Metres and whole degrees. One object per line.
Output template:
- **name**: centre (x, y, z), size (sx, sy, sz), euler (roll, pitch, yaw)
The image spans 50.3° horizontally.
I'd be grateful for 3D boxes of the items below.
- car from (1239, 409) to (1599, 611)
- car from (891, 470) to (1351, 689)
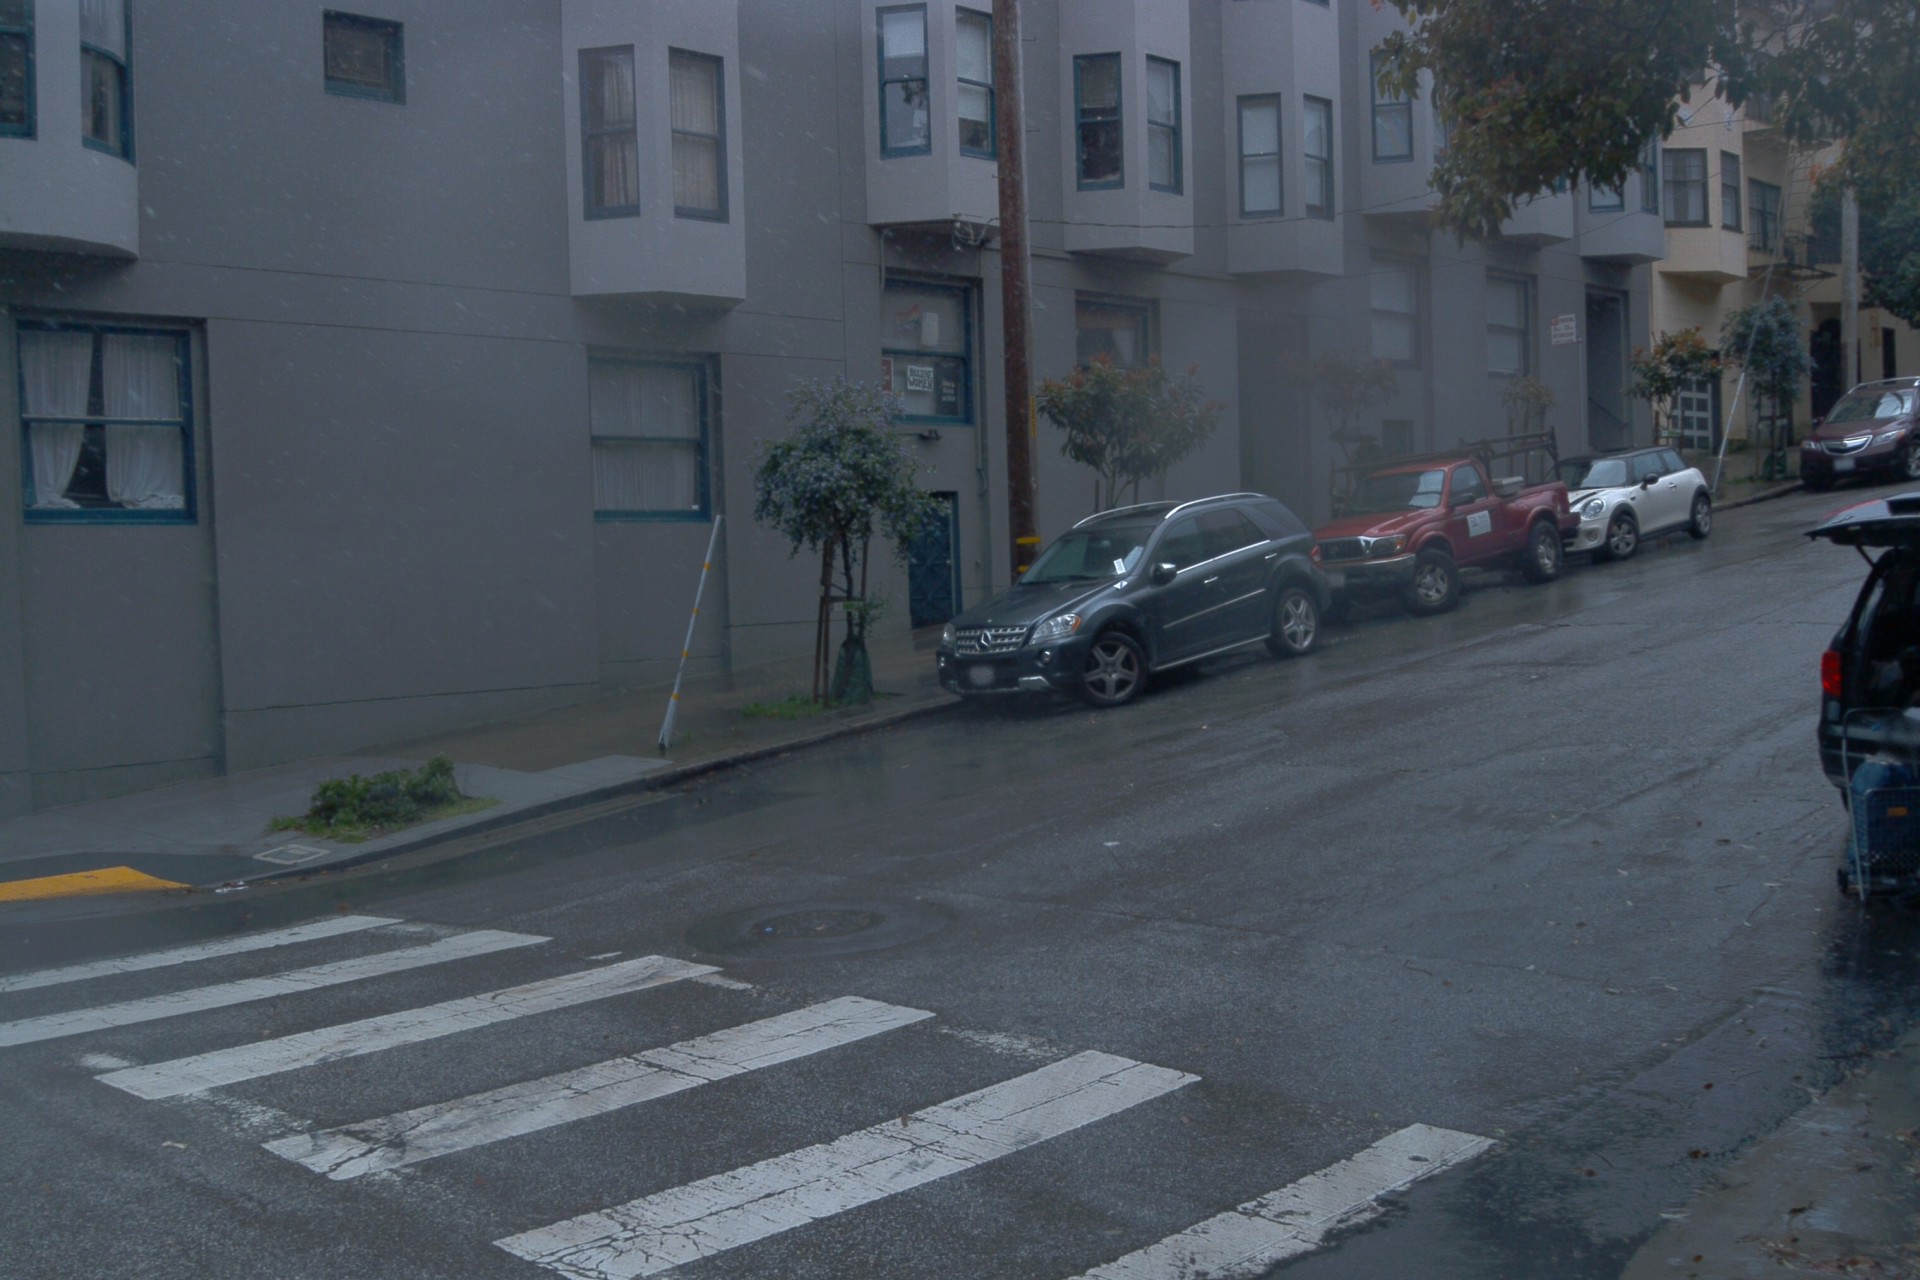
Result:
- **car**: centre (5.739, -1.487, 25.224), size (2.259, 2.180, 4.537), euler (0, 0, 45)
- **car**: centre (1.750, -0.540, 20.909), size (2.225, 1.980, 4.671), euler (0, 0, 44)
